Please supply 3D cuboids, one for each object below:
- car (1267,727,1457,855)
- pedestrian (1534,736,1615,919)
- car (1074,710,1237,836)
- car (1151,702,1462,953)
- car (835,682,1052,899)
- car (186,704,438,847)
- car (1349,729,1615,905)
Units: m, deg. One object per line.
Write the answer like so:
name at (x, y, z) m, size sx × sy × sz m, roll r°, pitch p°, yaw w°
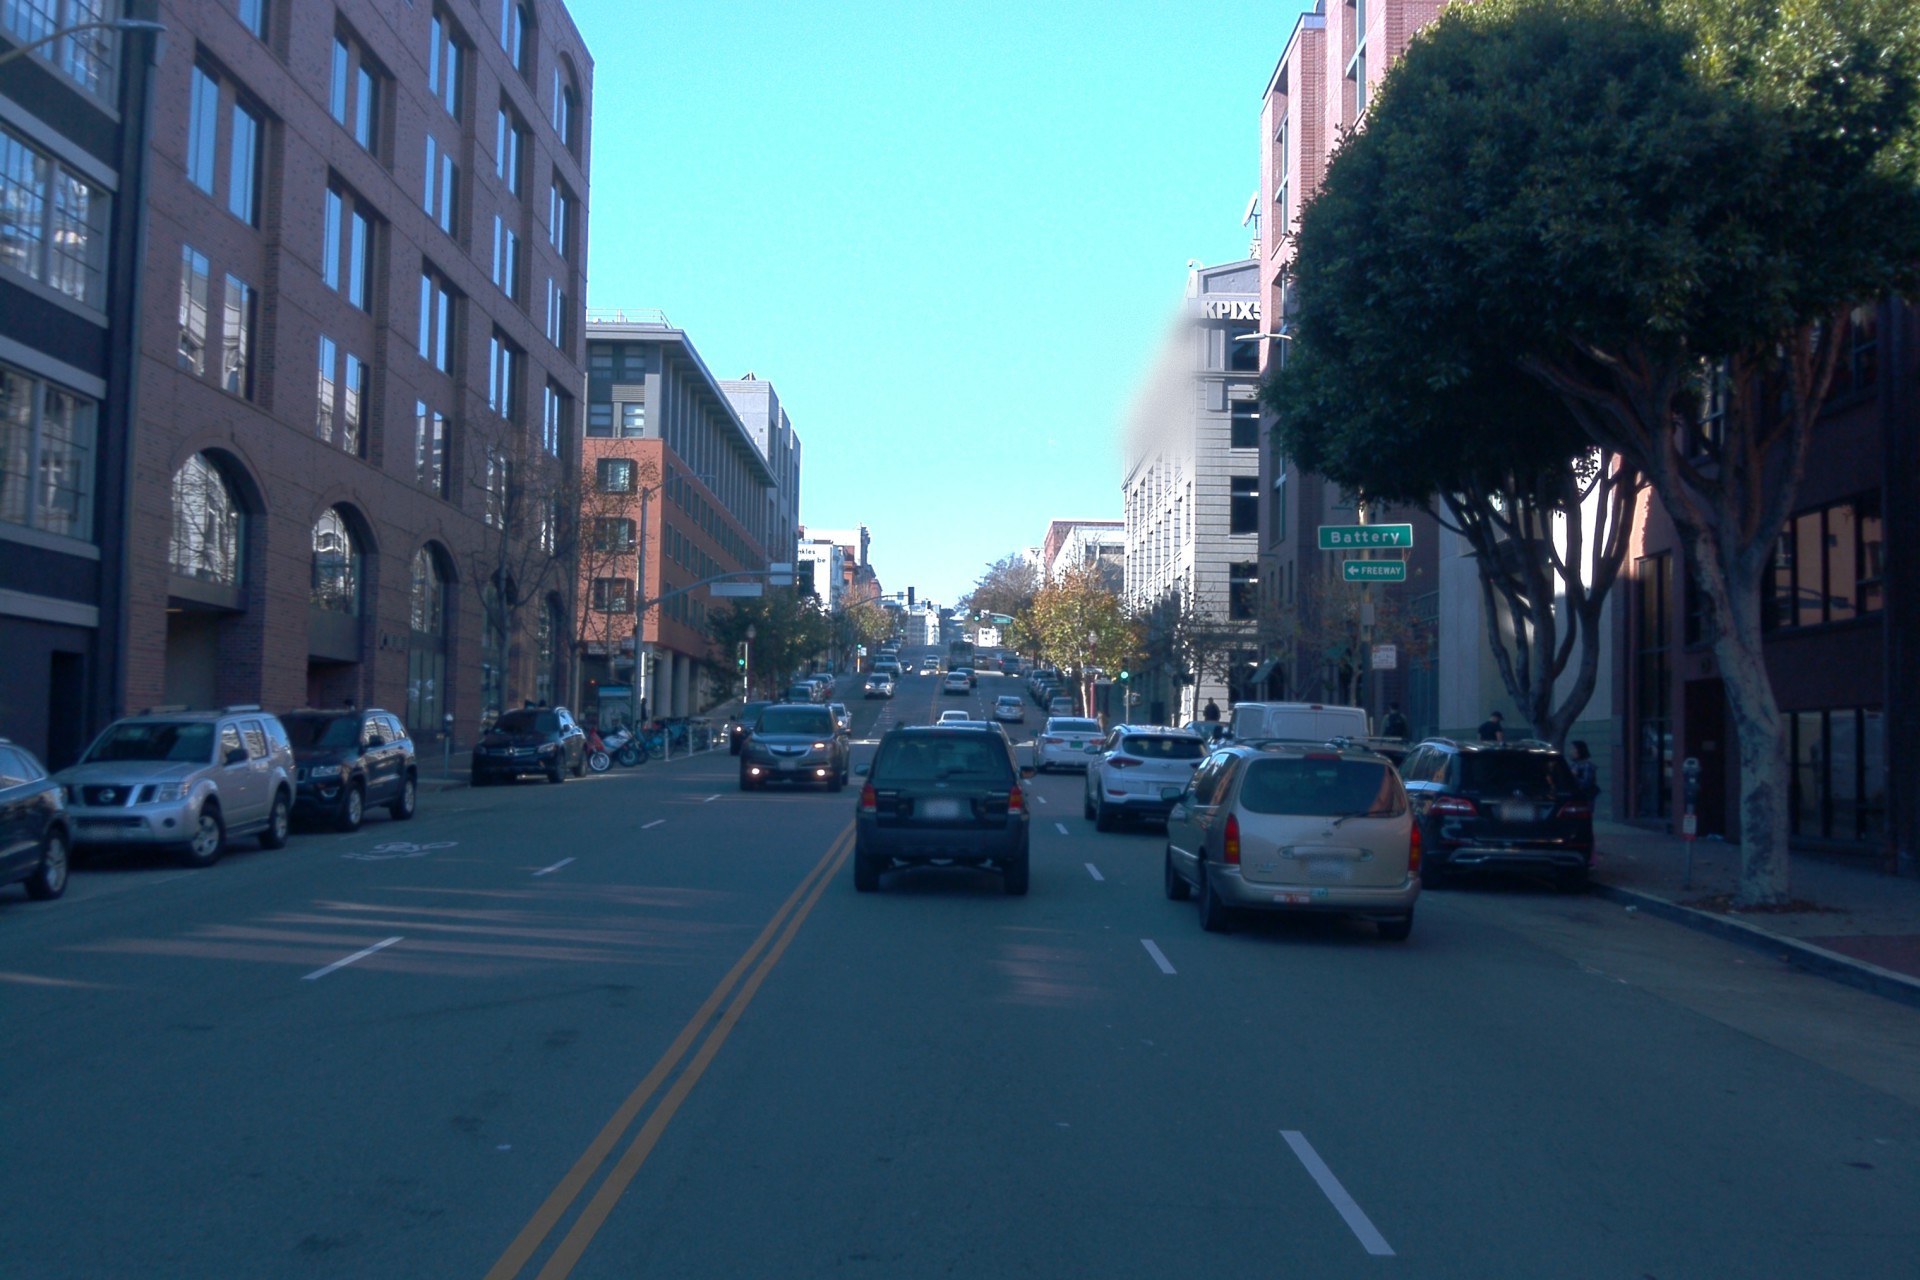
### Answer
car at (6.267, 2.321, 32.971) m, size 2.079 × 1.790 × 4.584 m, roll 1°, pitch -2°, yaw 0°
pedestrian at (7.628, 2.304, 25.828) m, size 0.716 × 2.200 × 0.680 m, roll 0°, pitch -2°, yaw 43°
car at (3.024, 2.047, 33.120) m, size 2.088 × 1.800 × 4.683 m, roll 1°, pitch -2°, yaw 0°
car at (3.137, 1.649, 19.888) m, size 2.113 × 2.070 × 4.763 m, roll 1°, pitch -2°, yaw -1°
car at (-0.136, 1.539, 22.703) m, size 2.096 × 2.100 × 4.545 m, roll 1°, pitch -2°, yaw 1°
car at (-9.526, 1.938, 31.071) m, size 2.181 × 1.900 × 4.968 m, roll 1°, pitch -2°, yaw 0°
car at (6.334, 2.093, 25.871) m, size 2.136 × 1.860 × 4.939 m, roll 1°, pitch -2°, yaw 1°
